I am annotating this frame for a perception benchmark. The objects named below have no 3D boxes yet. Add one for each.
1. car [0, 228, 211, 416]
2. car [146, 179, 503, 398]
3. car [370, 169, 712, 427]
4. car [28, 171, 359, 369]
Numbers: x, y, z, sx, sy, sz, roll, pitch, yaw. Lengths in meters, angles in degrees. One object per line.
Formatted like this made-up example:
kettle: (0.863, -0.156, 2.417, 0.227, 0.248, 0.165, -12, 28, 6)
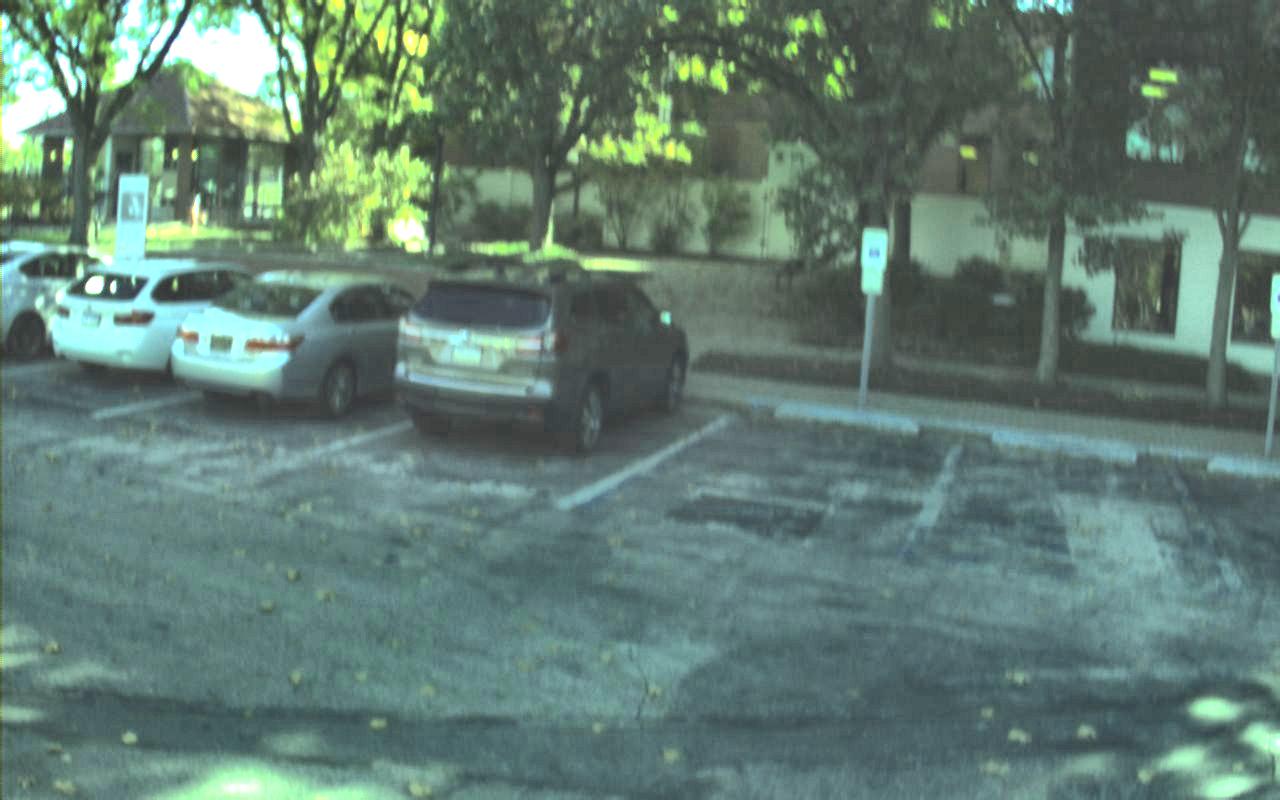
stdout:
car: (-8.252, -1.225, 16.338, 1.949, 1.607, 4.462, 5, 18, 20)
car: (-3.464, -1.445, 14.063, 1.889, 1.560, 4.363, 6, 18, 23)
car: (-0.817, -1.328, 13.550, 2.009, 1.756, 4.673, 4, 17, 18)
car: (-5.670, -1.815, 15.383, 1.935, 1.651, 4.447, 5, 18, 21)
